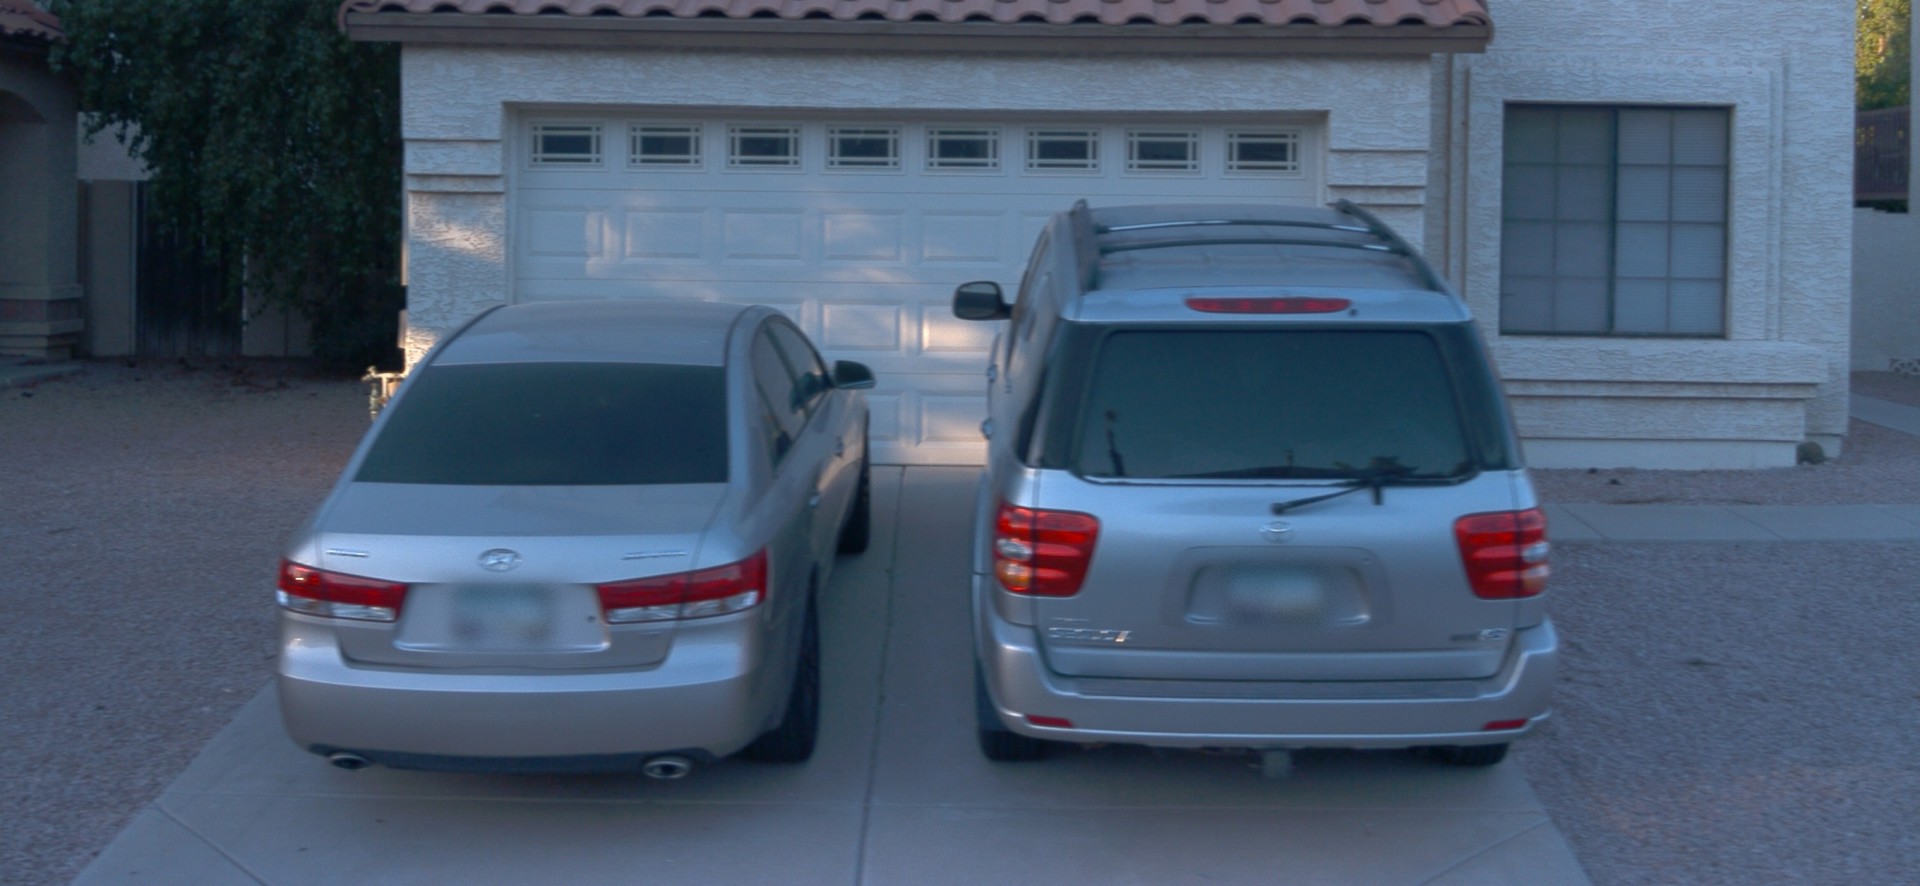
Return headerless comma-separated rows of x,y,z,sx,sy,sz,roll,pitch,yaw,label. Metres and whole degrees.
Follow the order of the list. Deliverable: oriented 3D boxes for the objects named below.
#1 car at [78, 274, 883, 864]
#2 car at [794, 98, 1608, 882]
-1.535,0.182,8.636,2.112,1.664,4.791,1,5,1,car
0.854,-0.126,8.800,2.373,2.272,5.306,1,5,3,car
